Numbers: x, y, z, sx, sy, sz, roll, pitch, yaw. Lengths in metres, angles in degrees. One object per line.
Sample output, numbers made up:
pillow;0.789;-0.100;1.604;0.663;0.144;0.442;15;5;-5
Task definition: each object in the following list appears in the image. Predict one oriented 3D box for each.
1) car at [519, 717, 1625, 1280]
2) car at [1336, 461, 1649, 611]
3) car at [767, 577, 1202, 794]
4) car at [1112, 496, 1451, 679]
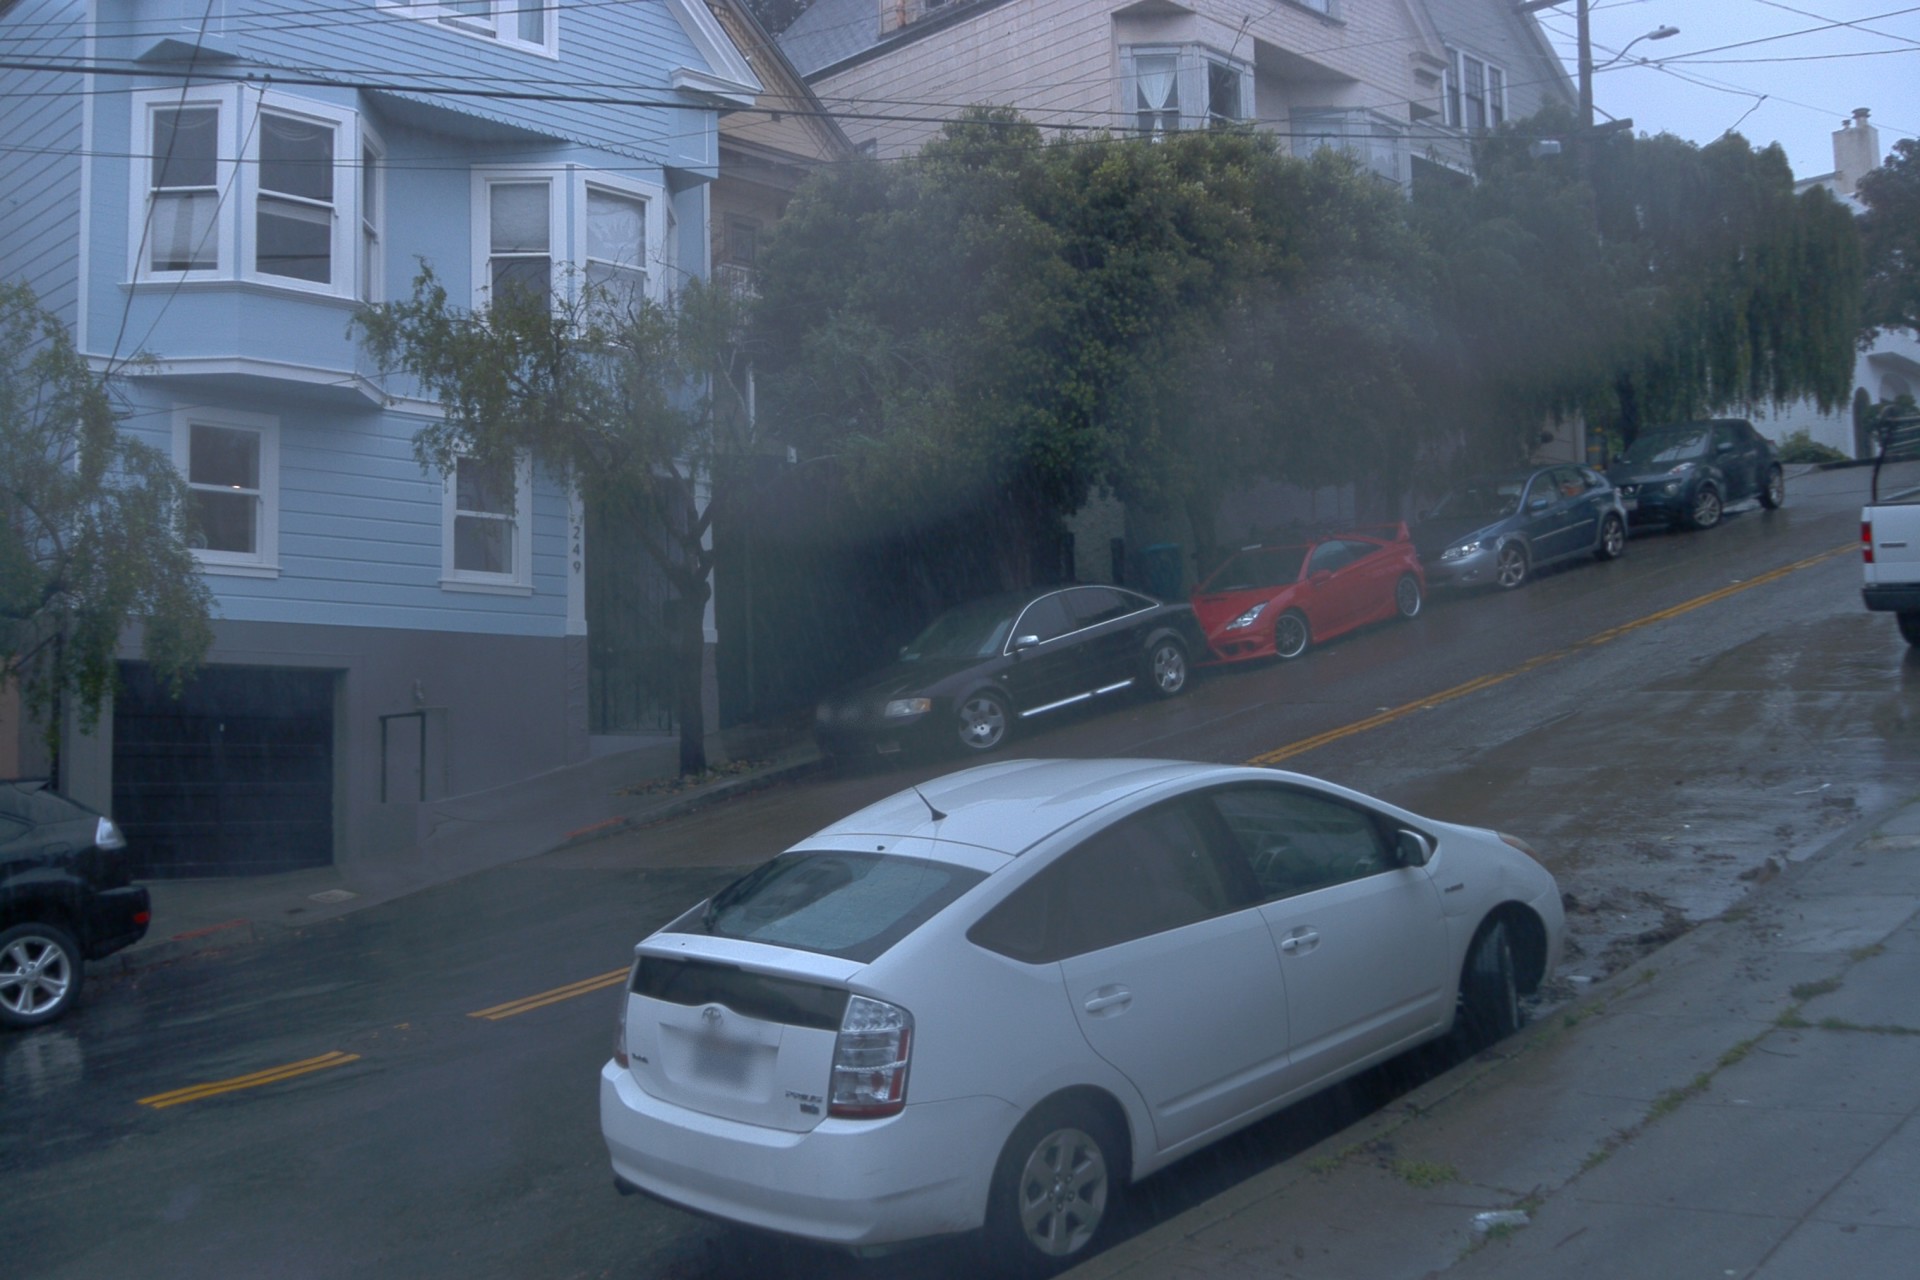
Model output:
car;0.630;1.316;8.158;4.193;1.850;2.044;0;0;-43
car;7.318;-1.332;27.937;1.981;1.800;4.754;1;0;45
car;0.328;0.408;20.870;4.206;1.970;2.031;0;0;-45
car;3.884;-0.573;24.406;2.006;1.990;4.048;1;0;44
